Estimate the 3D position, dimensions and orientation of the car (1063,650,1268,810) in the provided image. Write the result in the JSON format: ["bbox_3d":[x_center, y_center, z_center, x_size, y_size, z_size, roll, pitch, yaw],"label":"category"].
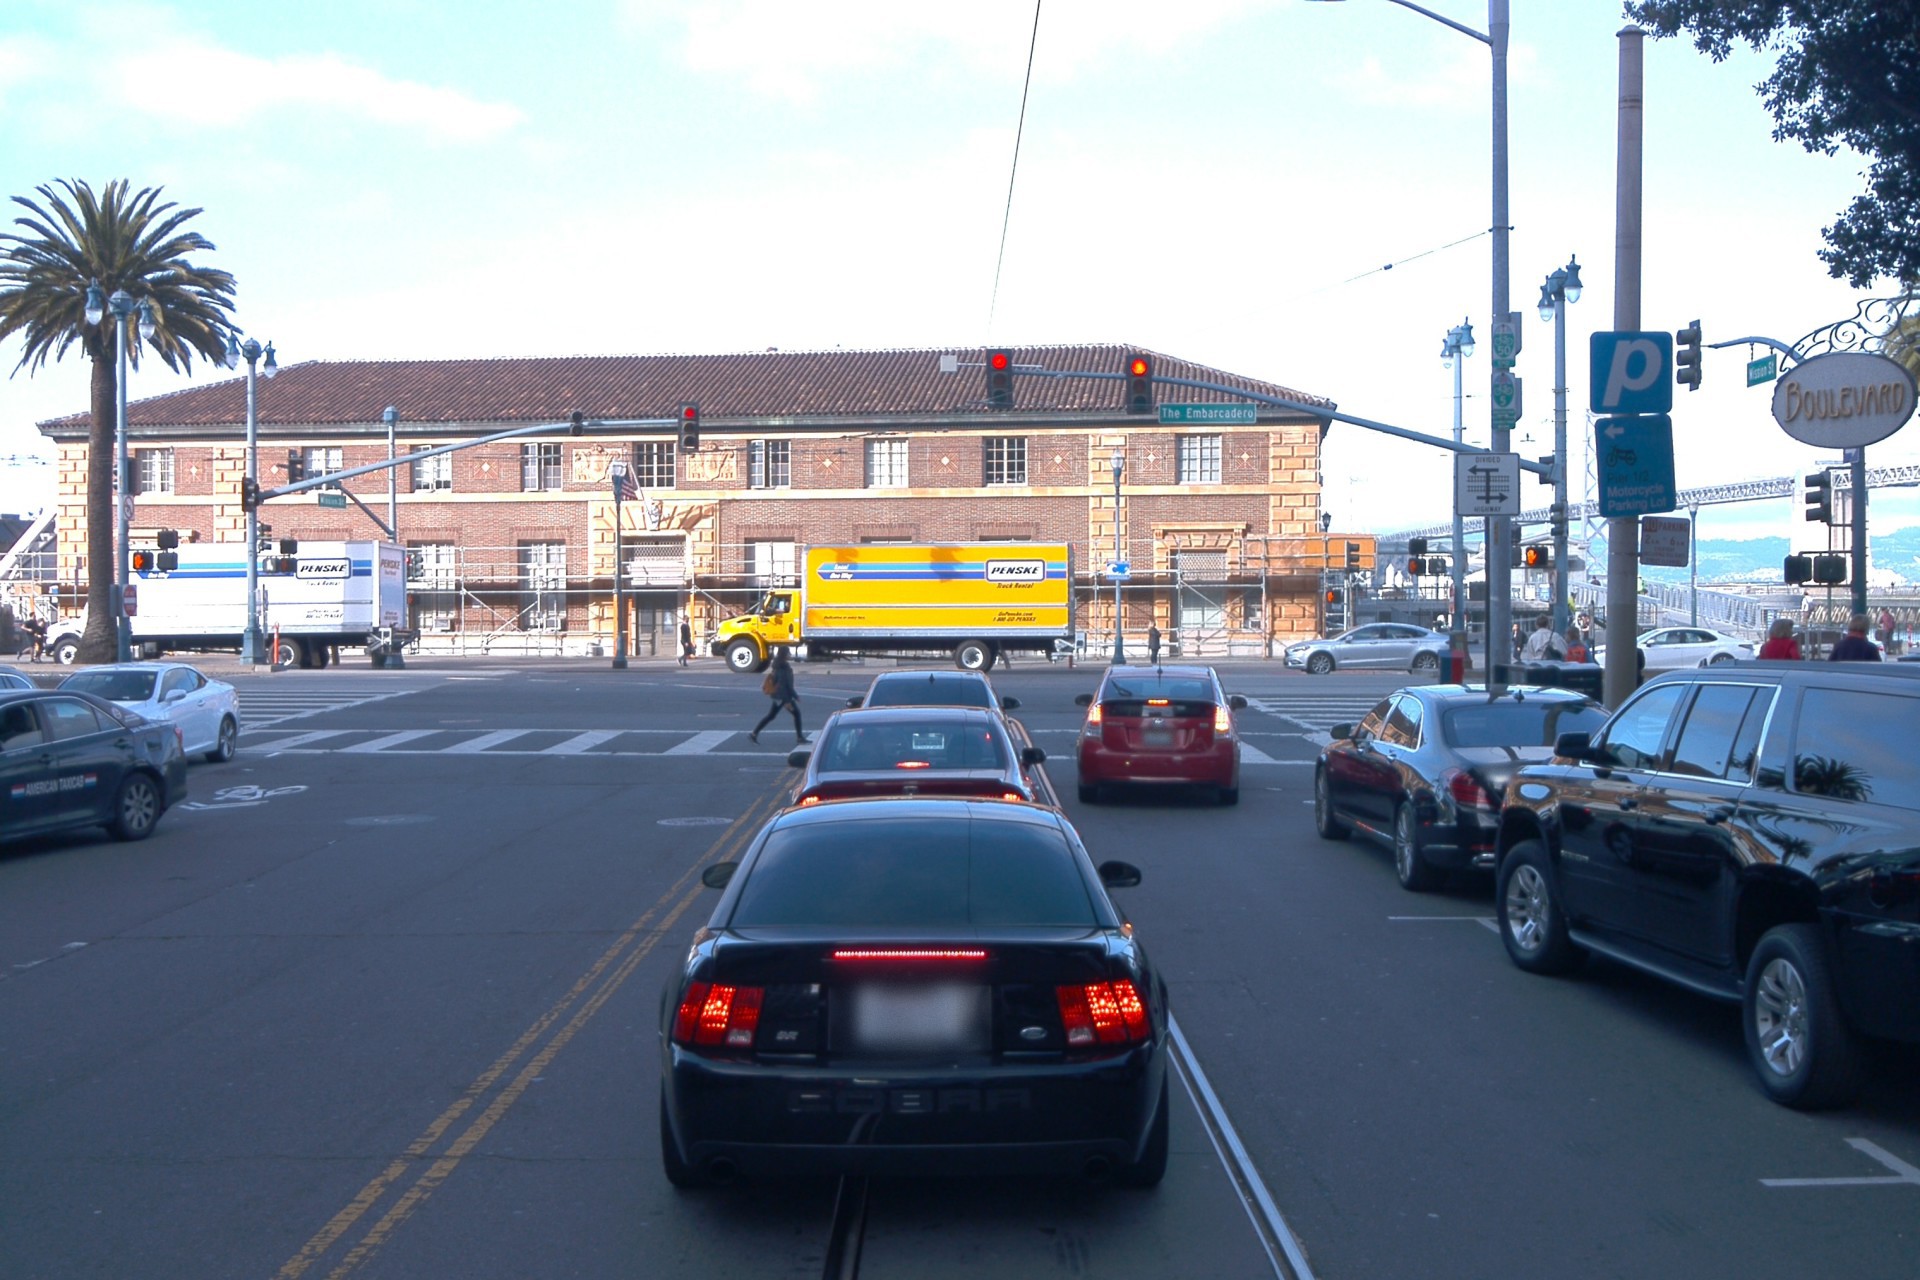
[{"bbox_3d":[2.309,0.937,23.473,2.102,1.570,4.550,0,1,5],"label":"car"}]

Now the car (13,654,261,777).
[{"bbox_3d":[-10.675,0.940,26.930,1.723,1.430,3.630,0,1,2],"label":"car"}]

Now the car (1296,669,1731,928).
[{"bbox_3d":[4.227,1.125,16.719,2.062,1.630,5.189,0,1,-1],"label":"car"}]

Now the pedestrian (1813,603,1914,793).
[{"bbox_3d":[9.246,0.569,21.028,0.734,1.890,0.805,0,1,41],"label":"pedestrian"}]

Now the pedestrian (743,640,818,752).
[{"bbox_3d":[-2.644,0.811,30.381,1.071,1.621,0.775,0,1,-3],"label":"pedestrian"}]

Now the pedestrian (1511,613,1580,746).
[{"bbox_3d":[8.786,0.575,30.854,0.837,1.970,0.922,0,1,6],"label":"pedestrian"}]

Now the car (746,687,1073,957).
[{"bbox_3d":[-0.319,1.181,14.903,2.032,1.533,4.187,0,1,0],"label":"car"}]

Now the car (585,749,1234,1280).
[{"bbox_3d":[-0.158,1.312,8.384,2.005,1.463,4.021,0,1,0],"label":"car"}]

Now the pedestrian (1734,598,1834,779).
[{"bbox_3d":[8.568,0.485,21.367,0.734,1.828,0.805,0,1,41],"label":"pedestrian"}]

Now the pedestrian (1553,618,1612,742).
[{"bbox_3d":[9.462,0.599,31.267,0.667,1.870,0.754,0,1,1],"label":"pedestrian"}]
